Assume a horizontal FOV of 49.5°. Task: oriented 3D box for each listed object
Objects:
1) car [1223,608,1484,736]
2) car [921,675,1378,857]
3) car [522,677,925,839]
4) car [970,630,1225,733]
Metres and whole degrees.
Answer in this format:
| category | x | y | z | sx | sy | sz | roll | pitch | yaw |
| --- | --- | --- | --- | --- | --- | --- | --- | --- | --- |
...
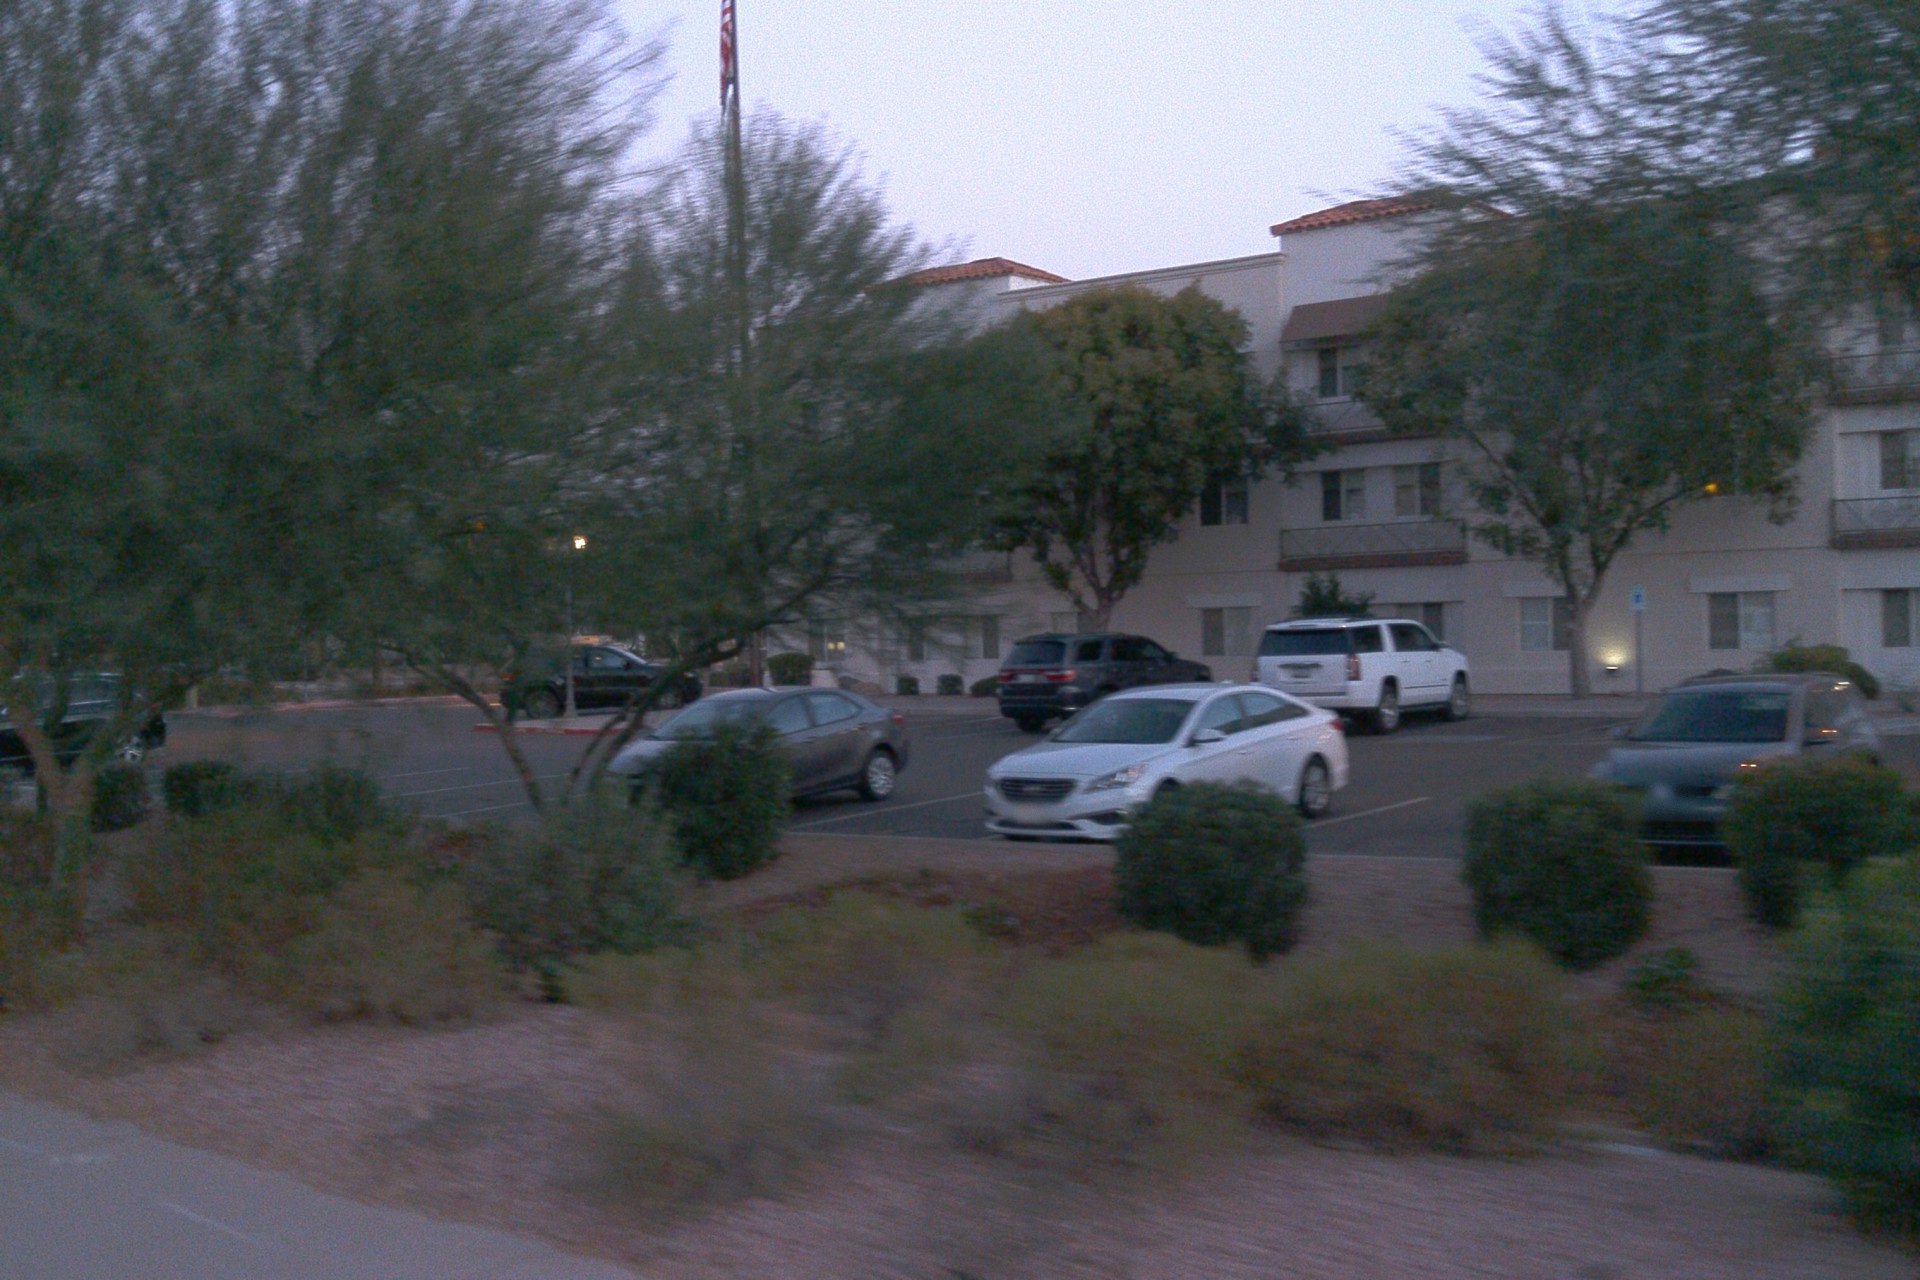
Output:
| category | x | y | z | sx | sy | sz | roll | pitch | yaw |
| --- | --- | --- | --- | --- | --- | --- | --- | --- | --- |
| car | 6.713 | 0.539 | 34.975 | 2.374 | 1.970 | 5.422 | -1 | -1 | 33 |
| car | 2.051 | 1.177 | 21.096 | 2.180 | 1.570 | 4.931 | -2 | -1 | 40 |
| car | -2.641 | 1.294 | 24.368 | 2.089 | 1.650 | 4.670 | -1 | -1 | 35 |
| car | 2.614 | 0.752 | 38.421 | 2.082 | 1.770 | 4.999 | -2 | -1 | 41 |
